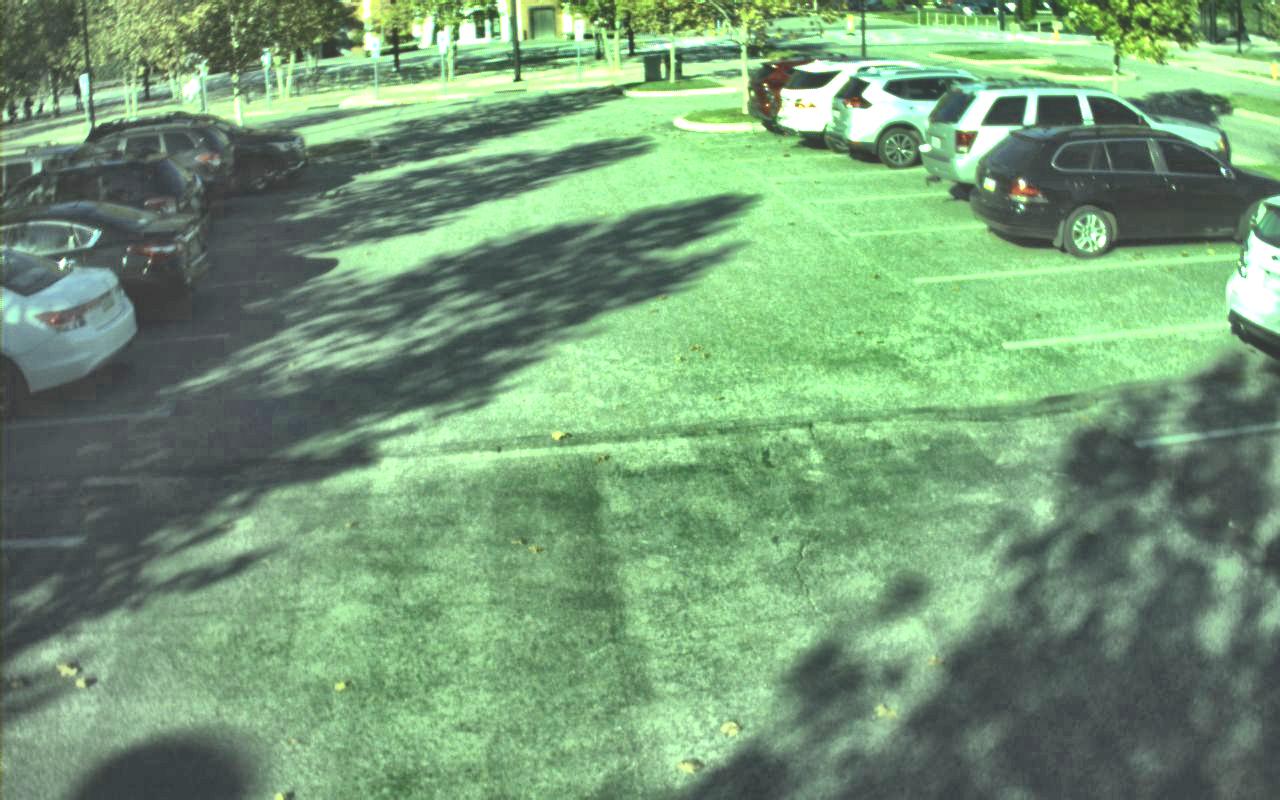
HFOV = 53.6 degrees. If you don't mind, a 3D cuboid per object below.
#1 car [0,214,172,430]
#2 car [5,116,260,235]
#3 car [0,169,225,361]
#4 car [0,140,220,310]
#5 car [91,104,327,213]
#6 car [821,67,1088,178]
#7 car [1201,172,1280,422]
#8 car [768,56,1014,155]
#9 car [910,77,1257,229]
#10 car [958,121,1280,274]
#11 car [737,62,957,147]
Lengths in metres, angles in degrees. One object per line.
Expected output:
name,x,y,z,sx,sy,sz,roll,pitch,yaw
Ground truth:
car,-6.890,-0.716,10.744,4.370,1.555,1.930,-2,16,-2
car,-9.162,-3.967,20.677,4.442,1.673,1.990,2,17,10
car,-7.121,-1.571,13.236,4.385,1.612,1.950,-3,16,-8
car,-7.994,-2.374,15.408,4.448,1.669,1.980,-4,16,-9
car,-8.603,-4.817,23.605,4.540,1.655,1.991,-3,16,-5
car,5.650,-4.996,21.831,4.533,1.807,1.994,-3,16,-5
car,7.325,-0.995,9.583,4.341,1.695,1.945,-3,16,-6
car,4.983,-5.870,24.274,4.568,1.814,2.008,-4,16,-9
car,6.384,-3.535,16.936,4.796,1.881,2.067,-2,16,-5
car,6.283,-2.525,14.512,4.442,1.552,1.929,-3,16,-6
car,4.522,-6.506,26.961,4.485,1.752,2.002,-3,16,-7
